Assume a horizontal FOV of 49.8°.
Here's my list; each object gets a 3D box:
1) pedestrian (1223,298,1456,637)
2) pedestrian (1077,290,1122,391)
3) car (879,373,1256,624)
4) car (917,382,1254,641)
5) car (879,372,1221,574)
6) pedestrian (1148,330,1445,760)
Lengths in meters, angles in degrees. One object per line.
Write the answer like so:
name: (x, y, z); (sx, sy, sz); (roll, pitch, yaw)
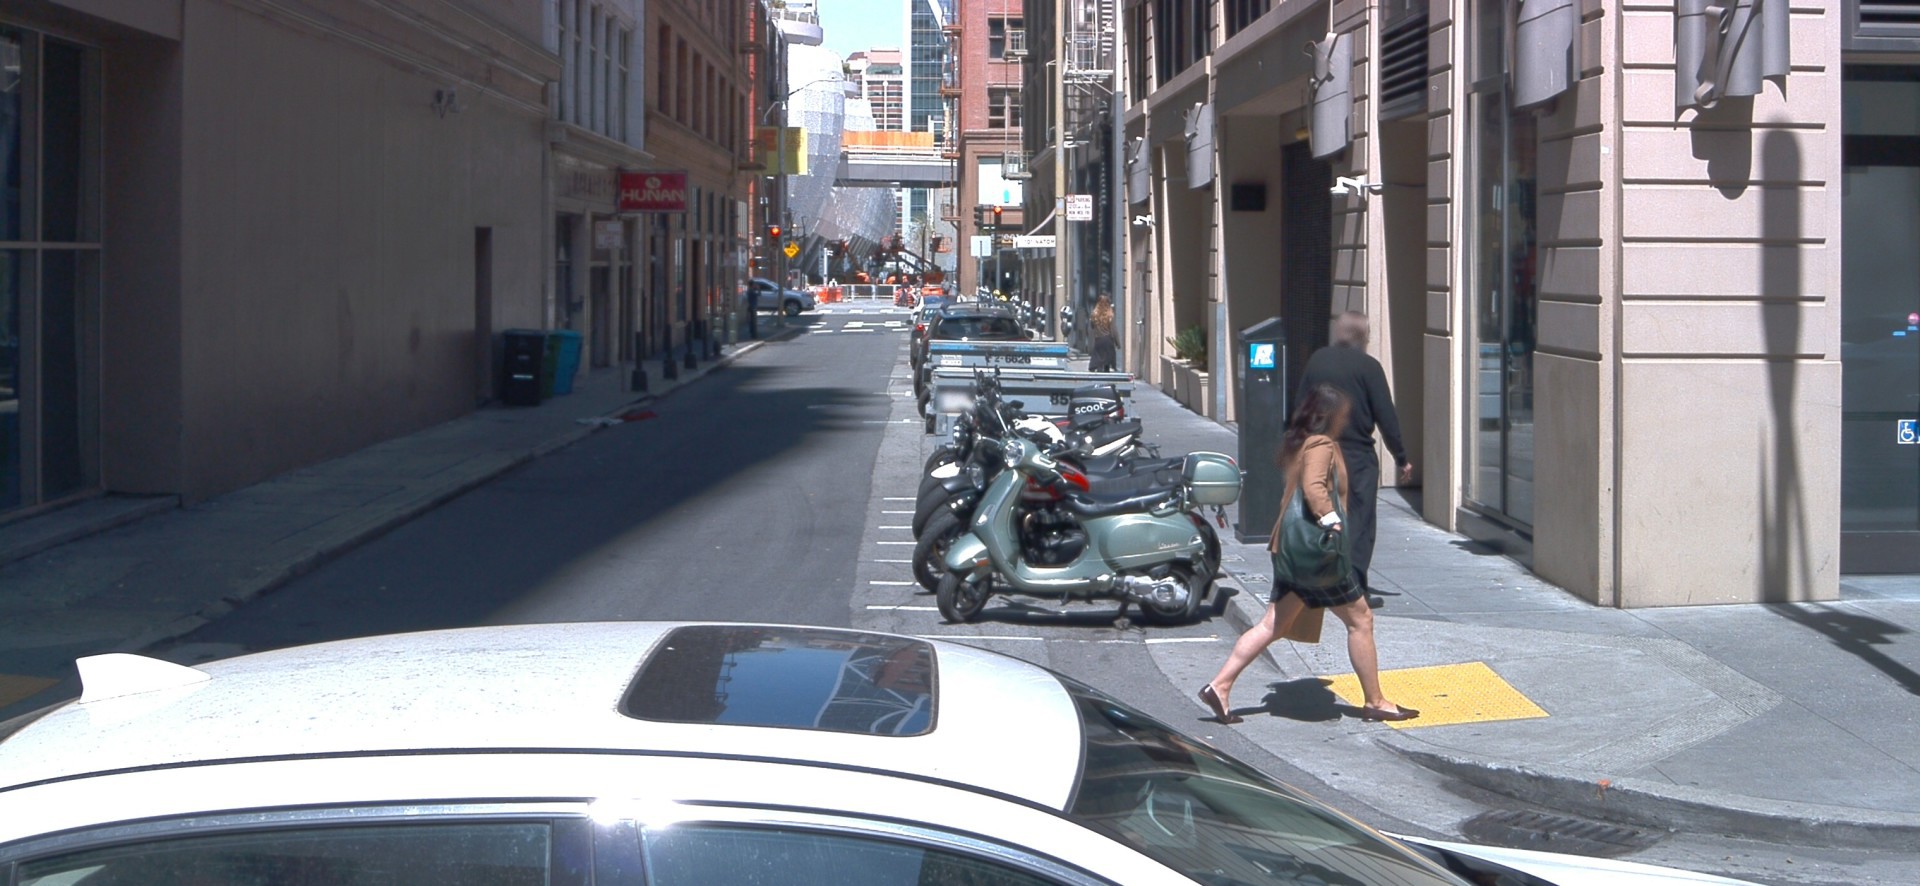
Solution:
pedestrian: (2.295, 0.091, 12.456); (0.895, 1.861, 1.145); (2, 3, 43)
pedestrian: (2.362, -1.747, 35.011); (0.750, 1.657, 0.763); (0, 2, 4)
car: (0.667, 0.335, 13.438); (2.369, 1.480, 0.821); (-1, 2, -3)
car: (0.742, 0.395, 12.659); (1.975, 1.437, 0.810); (-1, 2, -3)
car: (0.647, 0.200, 15.689); (2.496, 1.361, 1.072); (-1, 3, -3)
pedestrian: (1.563, 0.433, 9.816); (1.222, 1.861, 1.051); (-1, 2, 0)
